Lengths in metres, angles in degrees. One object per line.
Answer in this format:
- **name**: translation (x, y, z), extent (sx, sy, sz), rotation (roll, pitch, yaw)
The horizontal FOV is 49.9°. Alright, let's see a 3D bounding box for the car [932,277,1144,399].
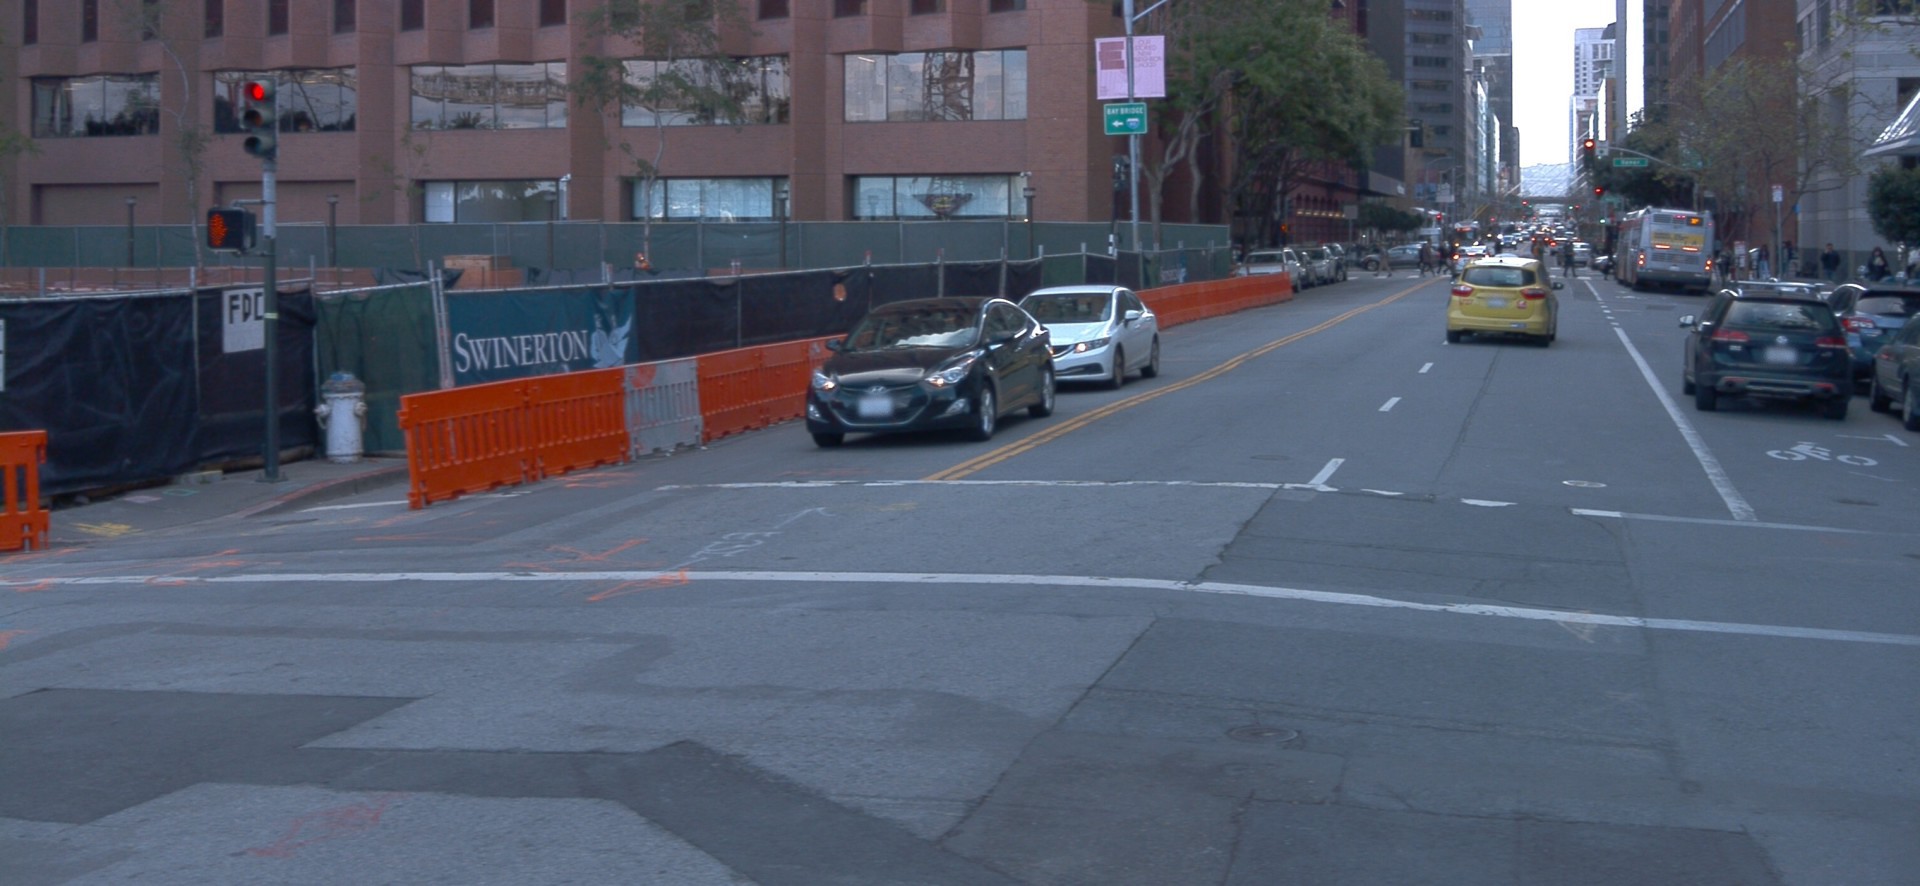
- **car**: translation (1.220, -1.572, 29.519), extent (2.056, 1.494, 4.643), rotation (1, 5, 15)

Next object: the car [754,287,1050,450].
- **car**: translation (-0.482, -0.896, 22.150), extent (1.996, 1.424, 4.628), rotation (1, 5, 14)

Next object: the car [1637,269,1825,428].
- **car**: translation (9.617, -1.276, 26.044), extent (2.035, 1.754, 4.227), rotation (1, 5, 18)
